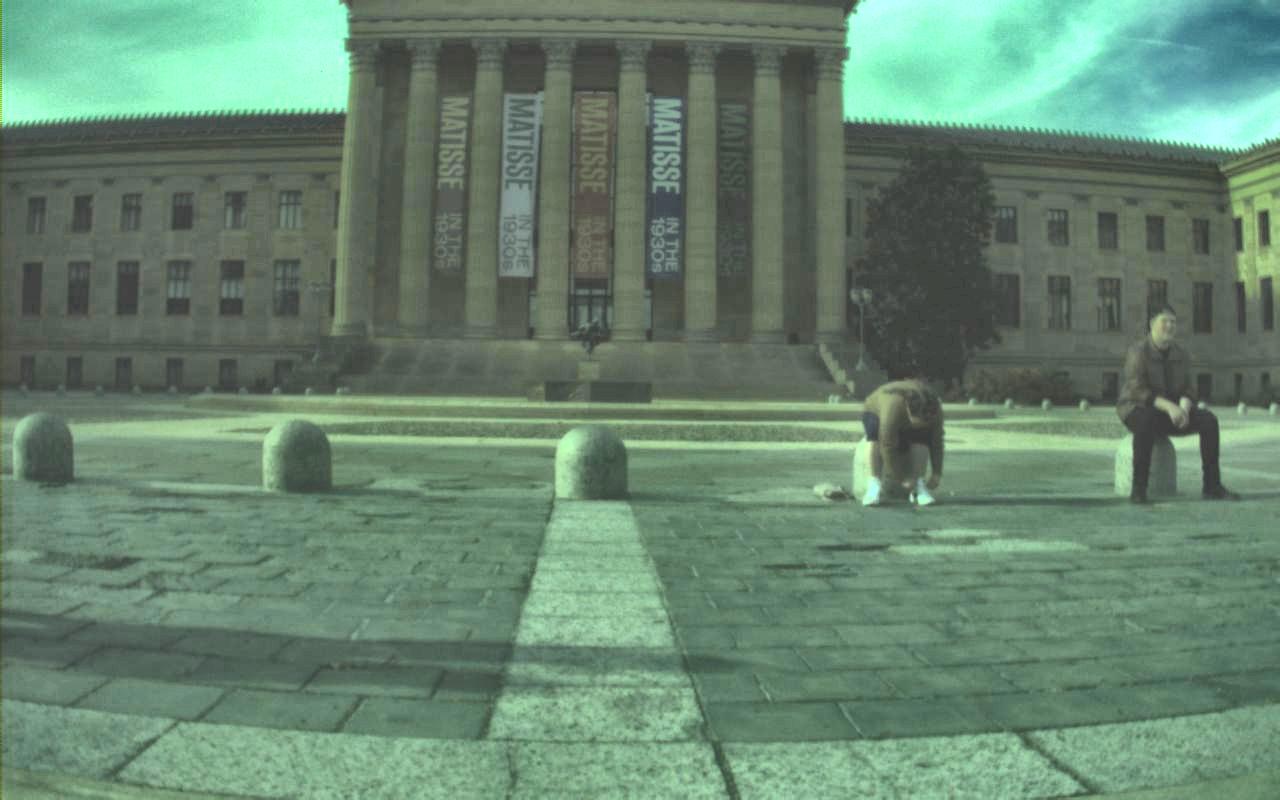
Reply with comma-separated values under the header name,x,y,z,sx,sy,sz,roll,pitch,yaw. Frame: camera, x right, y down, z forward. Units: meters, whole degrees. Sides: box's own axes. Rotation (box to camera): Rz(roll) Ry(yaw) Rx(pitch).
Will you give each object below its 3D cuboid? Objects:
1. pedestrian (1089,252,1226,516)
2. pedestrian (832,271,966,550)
name,x,y,z,sx,sy,sz,roll,pitch,yaw
pedestrian,3.527,-0.098,7.960,0.709,1.692,0.727,0,0,-39
pedestrian,1.581,0.060,7.647,0.690,1.630,0.725,0,0,0
